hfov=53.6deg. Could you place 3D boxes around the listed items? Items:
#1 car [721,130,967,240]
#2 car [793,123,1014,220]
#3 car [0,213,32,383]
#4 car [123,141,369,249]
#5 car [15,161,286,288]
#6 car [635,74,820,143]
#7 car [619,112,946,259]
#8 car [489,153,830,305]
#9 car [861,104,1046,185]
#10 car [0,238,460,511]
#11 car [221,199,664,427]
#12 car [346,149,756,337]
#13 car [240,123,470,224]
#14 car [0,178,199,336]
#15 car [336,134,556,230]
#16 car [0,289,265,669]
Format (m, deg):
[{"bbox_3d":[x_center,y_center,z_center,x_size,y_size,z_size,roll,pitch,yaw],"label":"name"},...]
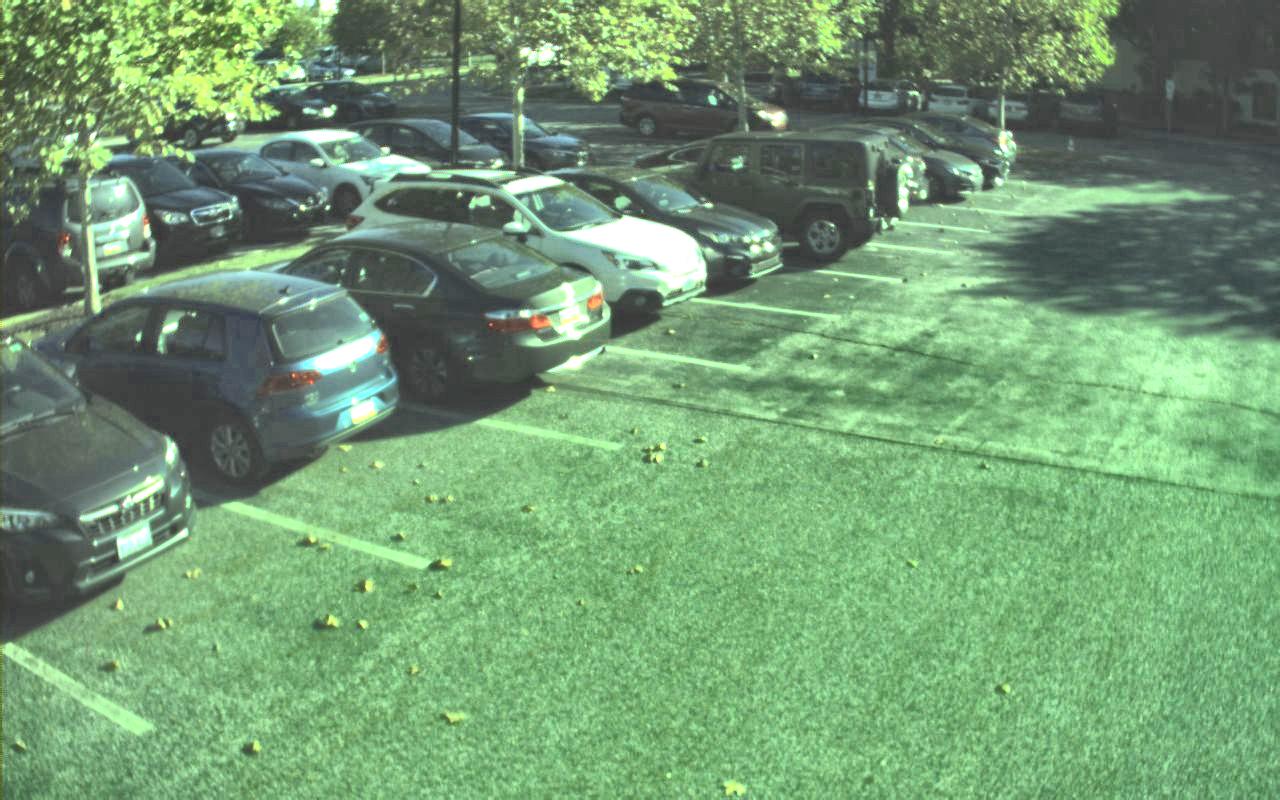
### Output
[{"bbox_3d":[3.944,-4.224,23.979,4.389,1.644,1.963,10,19,32],"label":"car"},{"bbox_3d":[5.599,-4.860,25.951,4.420,1.607,1.949,7,18,24],"label":"car"},{"bbox_3d":[-10.109,-1.459,14.369,4.393,1.601,1.963,9,19,30],"label":"car"},{"bbox_3d":[-7.135,-3.687,21.331,4.427,1.555,1.946,7,18,26],"label":"car"},{"bbox_3d":[-8.072,-2.863,18.943,4.497,1.615,1.983,5,17,21],"label":"car"},{"bbox_3d":[2.556,-8.588,36.314,5.014,1.796,2.114,8,18,28],"label":"car"},{"bbox_3d":[2.231,-3.423,19.308,4.677,1.832,2.033,7,18,26],"label":"car"},{"bbox_3d":[0.239,-2.479,17.380,4.359,1.545,1.932,9,19,31],"label":"car"},{"bbox_3d":[7.868,-6.419,30.458,4.370,1.638,1.979,8,19,28],"label":"car"},{"bbox_3d":[-3.848,-0.410,10.661,4.167,1.585,1.891,7,18,26],"label":"car"},{"bbox_3d":[-2.160,-1.066,12.740,4.476,1.509,1.921,10,20,33],"label":"car"},{"bbox_3d":[-1.169,-2.081,15.378,4.761,1.698,2.032,9,19,30],"label":"car"},{"bbox_3d":[-5.618,-4.448,23.613,4.462,1.608,1.965,10,19,32],"label":"car"},{"bbox_3d":[-8.700,-2.128,16.361,4.677,1.734,2.036,6,18,23],"label":"car"},{"bbox_3d":[-4.091,-4.573,25.617,4.408,1.607,1.962,10,20,33],"label":"car"},{"bbox_3d":[-5.060,0.341,8.320,4.451,1.644,1.961,8,18,27],"label":"car"}]
